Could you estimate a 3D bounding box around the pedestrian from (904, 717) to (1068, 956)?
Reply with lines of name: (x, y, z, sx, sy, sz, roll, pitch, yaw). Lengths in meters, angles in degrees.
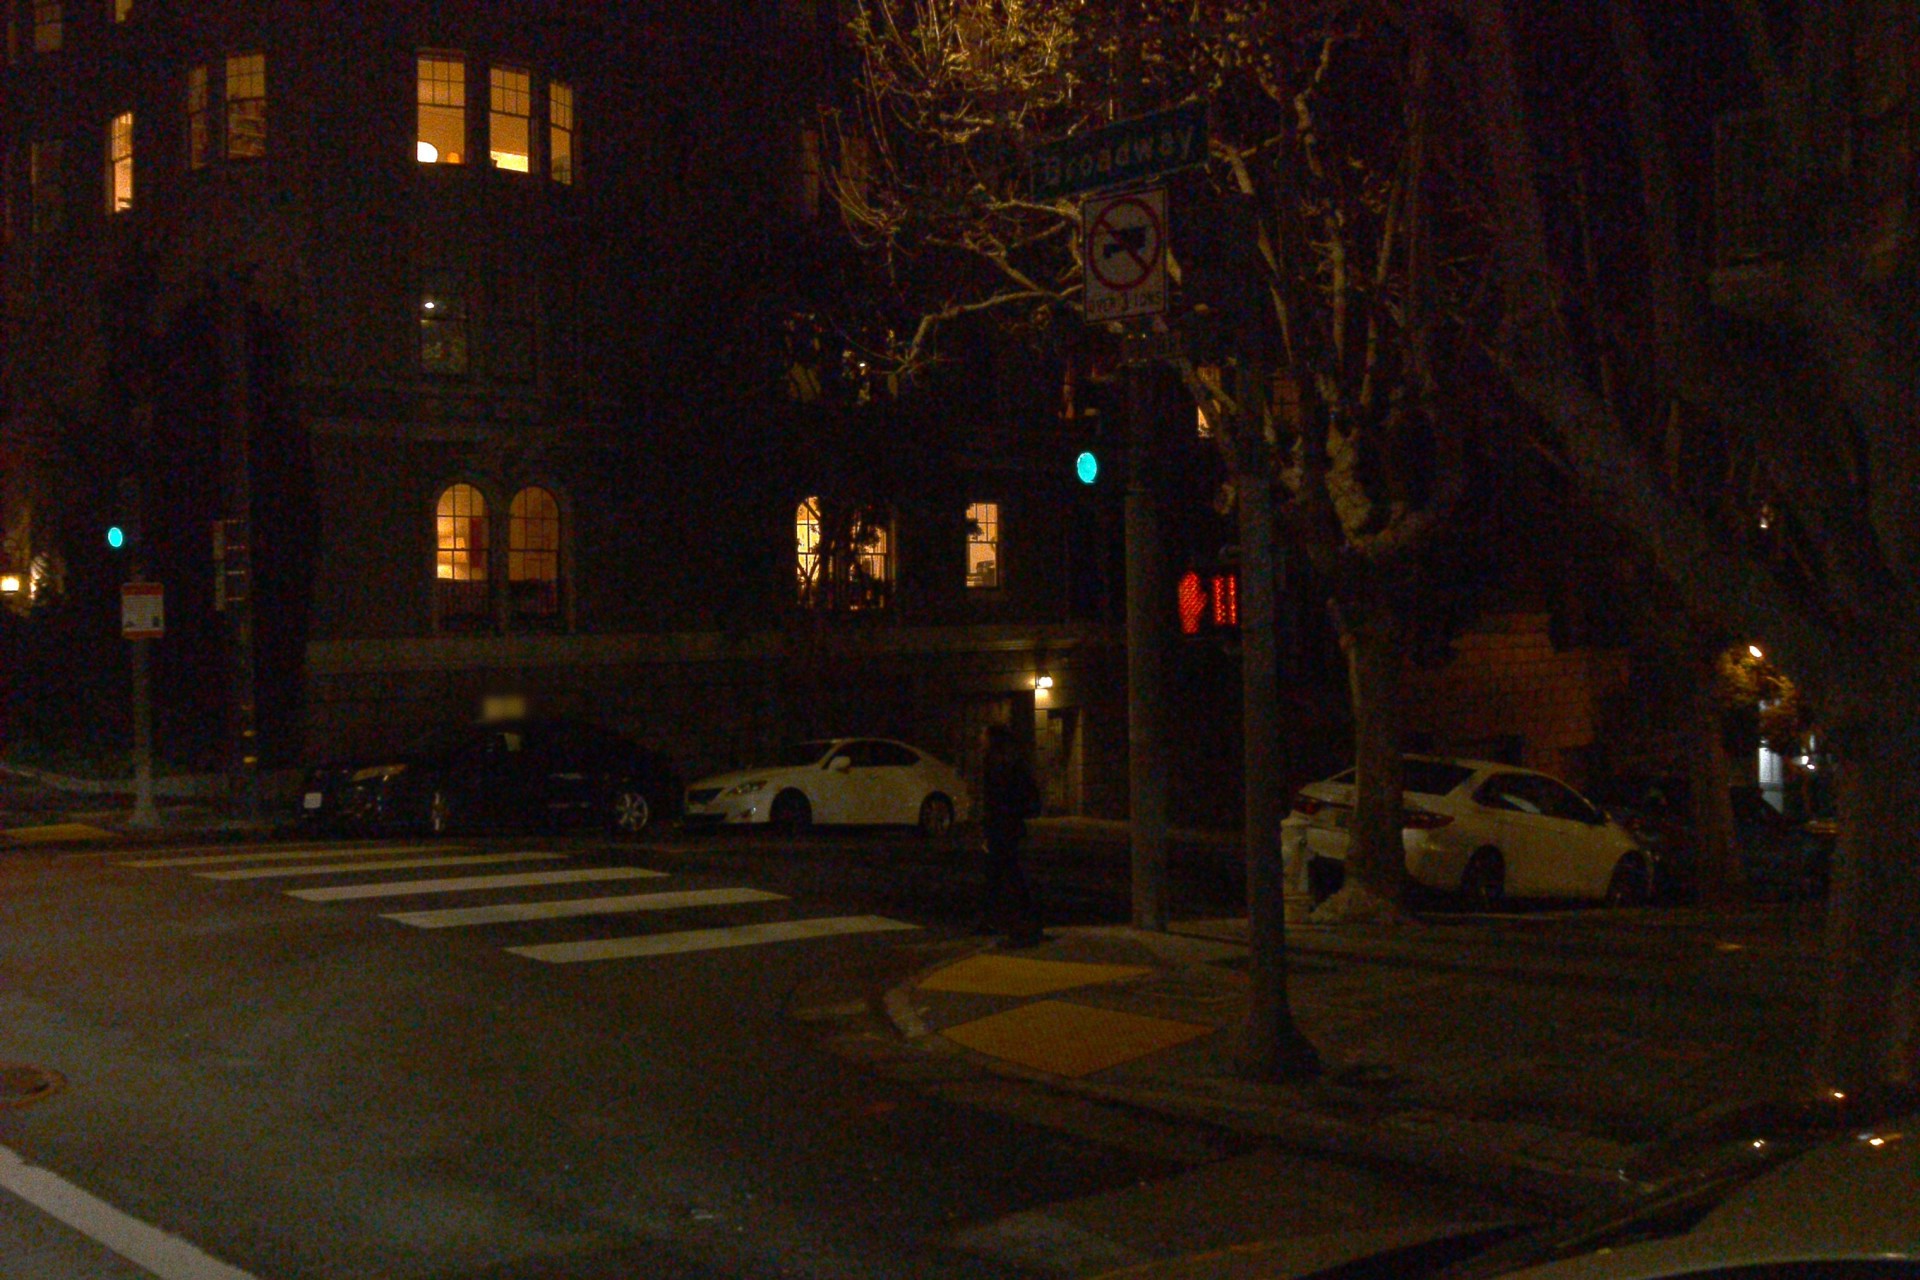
pedestrian: (0.183, 1.357, 14.526, 0.903, 1.570, 0.707, 0, 0, 41)

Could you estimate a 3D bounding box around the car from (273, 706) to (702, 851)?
car: (-5.372, 1.529, 23.859, 1.838, 1.362, 4.644, 1, 0, 42)

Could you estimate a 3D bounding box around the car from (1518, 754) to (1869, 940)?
car: (8.908, 2.381, 24.708, 4.887, 1.744, 1.990, 0, 0, -44)

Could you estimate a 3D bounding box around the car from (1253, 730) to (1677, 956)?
car: (5.160, 1.915, 20.643, 4.554, 1.811, 1.990, 0, 0, -44)

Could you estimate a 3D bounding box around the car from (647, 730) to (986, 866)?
car: (-1.848, 2.052, 27.685, 1.919, 1.482, 4.488, 1, 0, 42)
